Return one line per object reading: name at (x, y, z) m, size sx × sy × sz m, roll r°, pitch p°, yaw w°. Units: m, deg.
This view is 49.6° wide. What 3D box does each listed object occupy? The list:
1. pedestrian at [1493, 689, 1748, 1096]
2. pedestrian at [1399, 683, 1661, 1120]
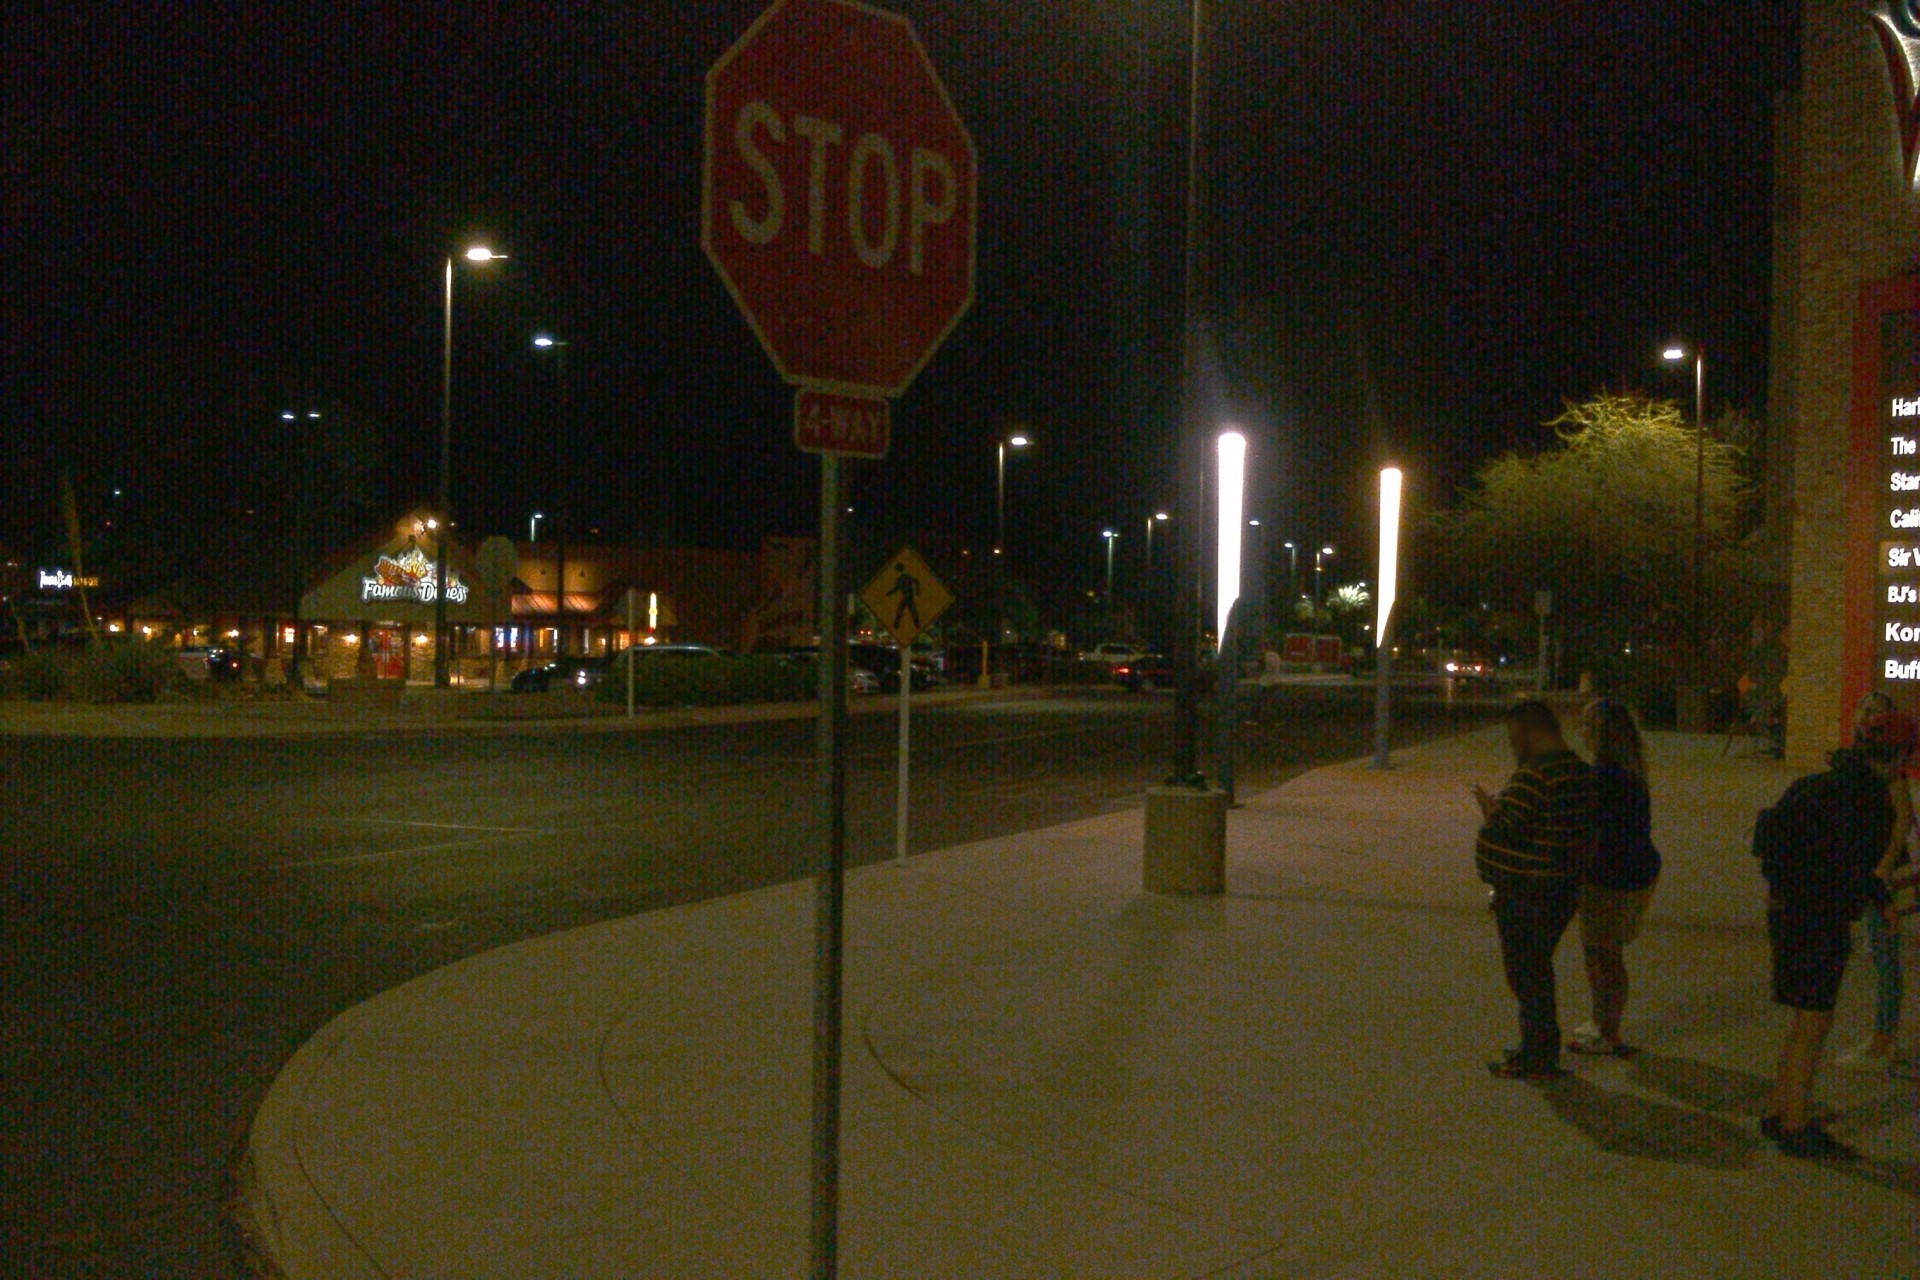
pedestrian at (3.056, 1.111, 9.614) m, size 0.874 × 1.750 × 0.777 m, roll -1°, pitch 0°, yaw -42°
pedestrian at (2.485, 1.079, 9.046) m, size 0.928 × 1.760 × 0.707 m, roll -1°, pitch 0°, yaw -43°
